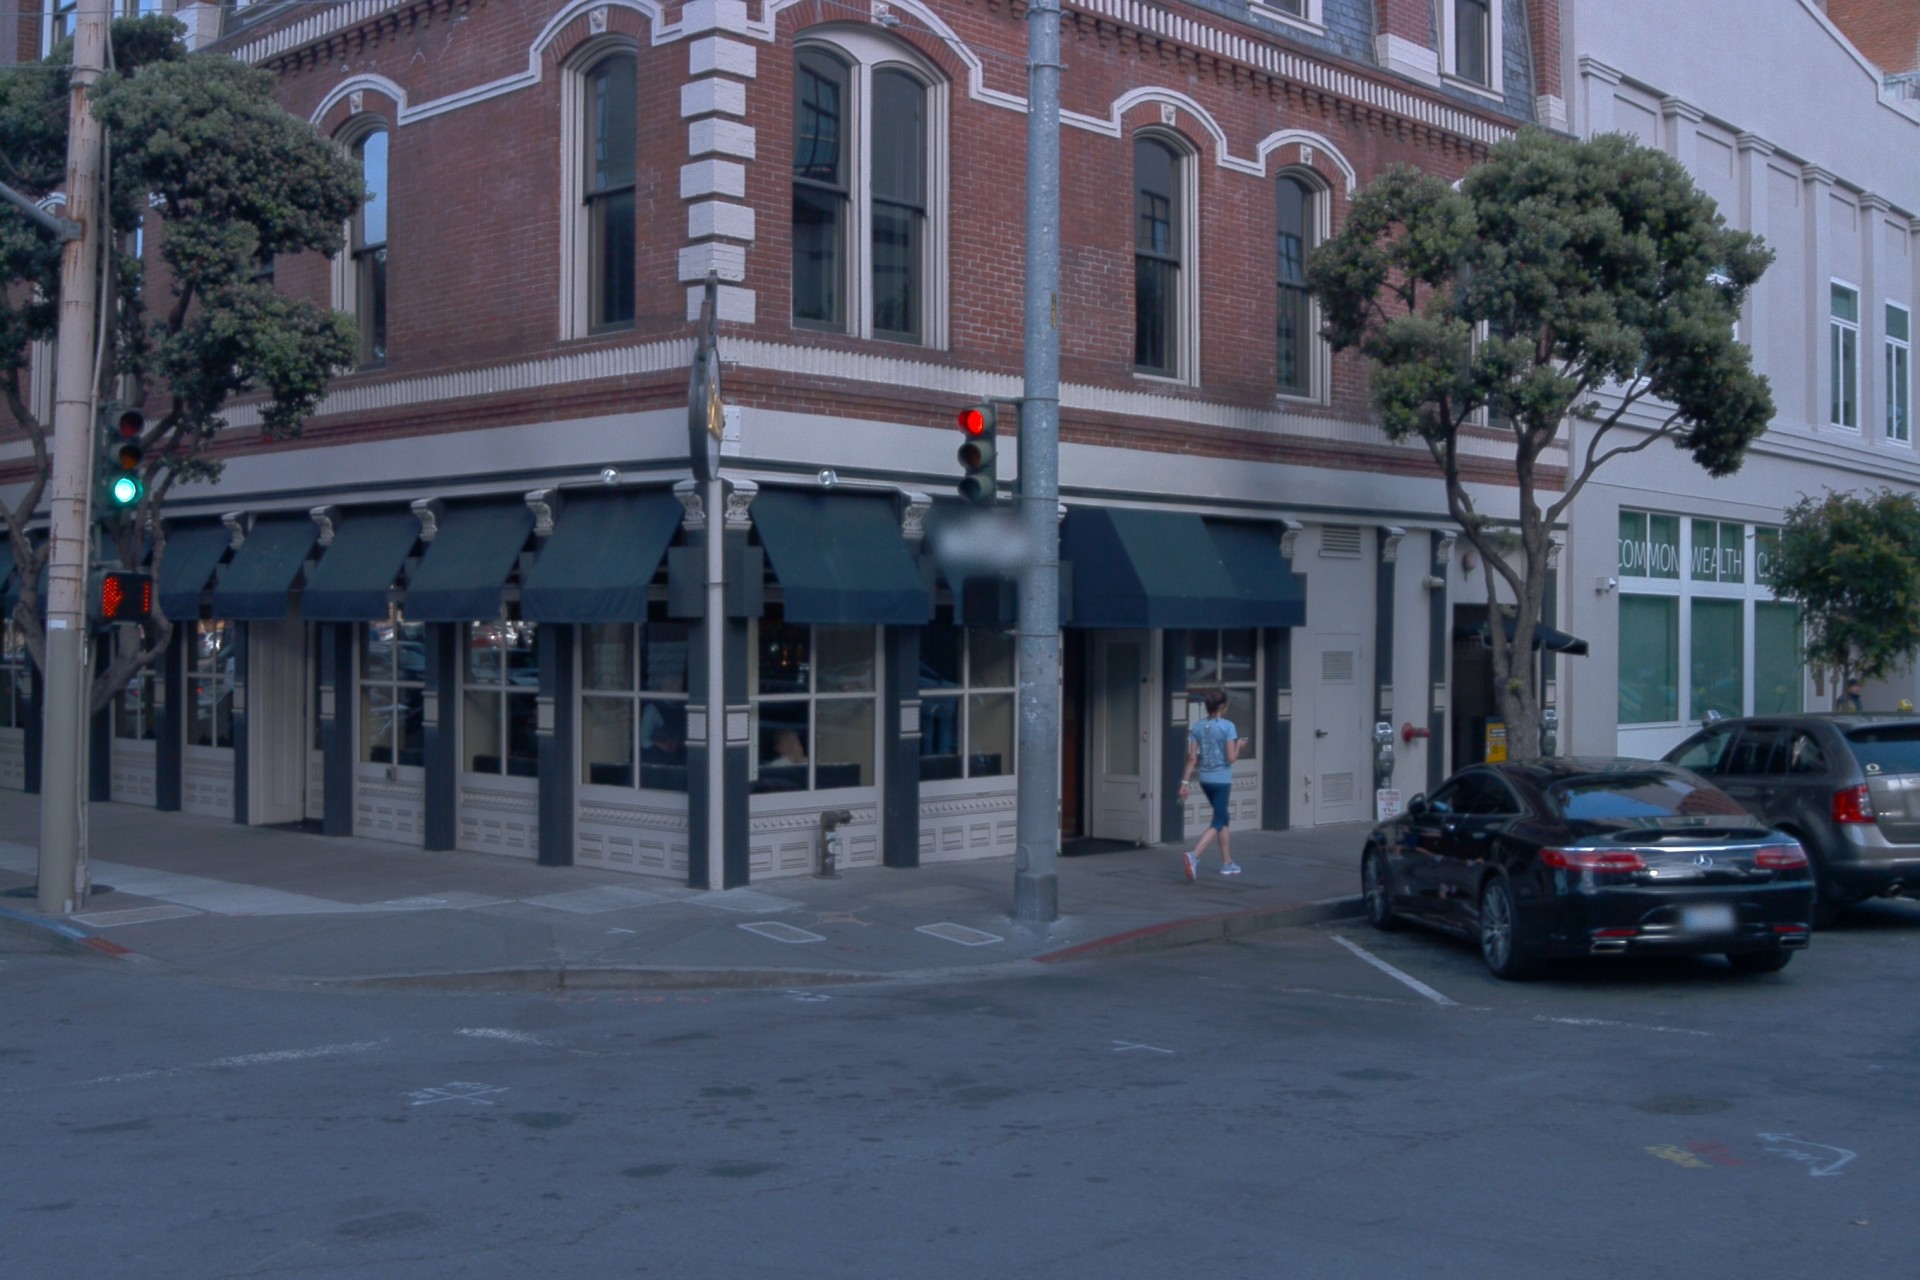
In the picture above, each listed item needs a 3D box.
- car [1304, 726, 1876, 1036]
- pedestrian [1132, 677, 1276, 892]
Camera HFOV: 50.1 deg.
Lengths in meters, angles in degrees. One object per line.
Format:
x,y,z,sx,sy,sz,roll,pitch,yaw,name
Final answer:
4.259,1.562,15.048,2.211,1.583,5.225,0,1,-5,car
2.202,1.263,18.513,1.128,1.830,0.745,0,0,-45,pedestrian
